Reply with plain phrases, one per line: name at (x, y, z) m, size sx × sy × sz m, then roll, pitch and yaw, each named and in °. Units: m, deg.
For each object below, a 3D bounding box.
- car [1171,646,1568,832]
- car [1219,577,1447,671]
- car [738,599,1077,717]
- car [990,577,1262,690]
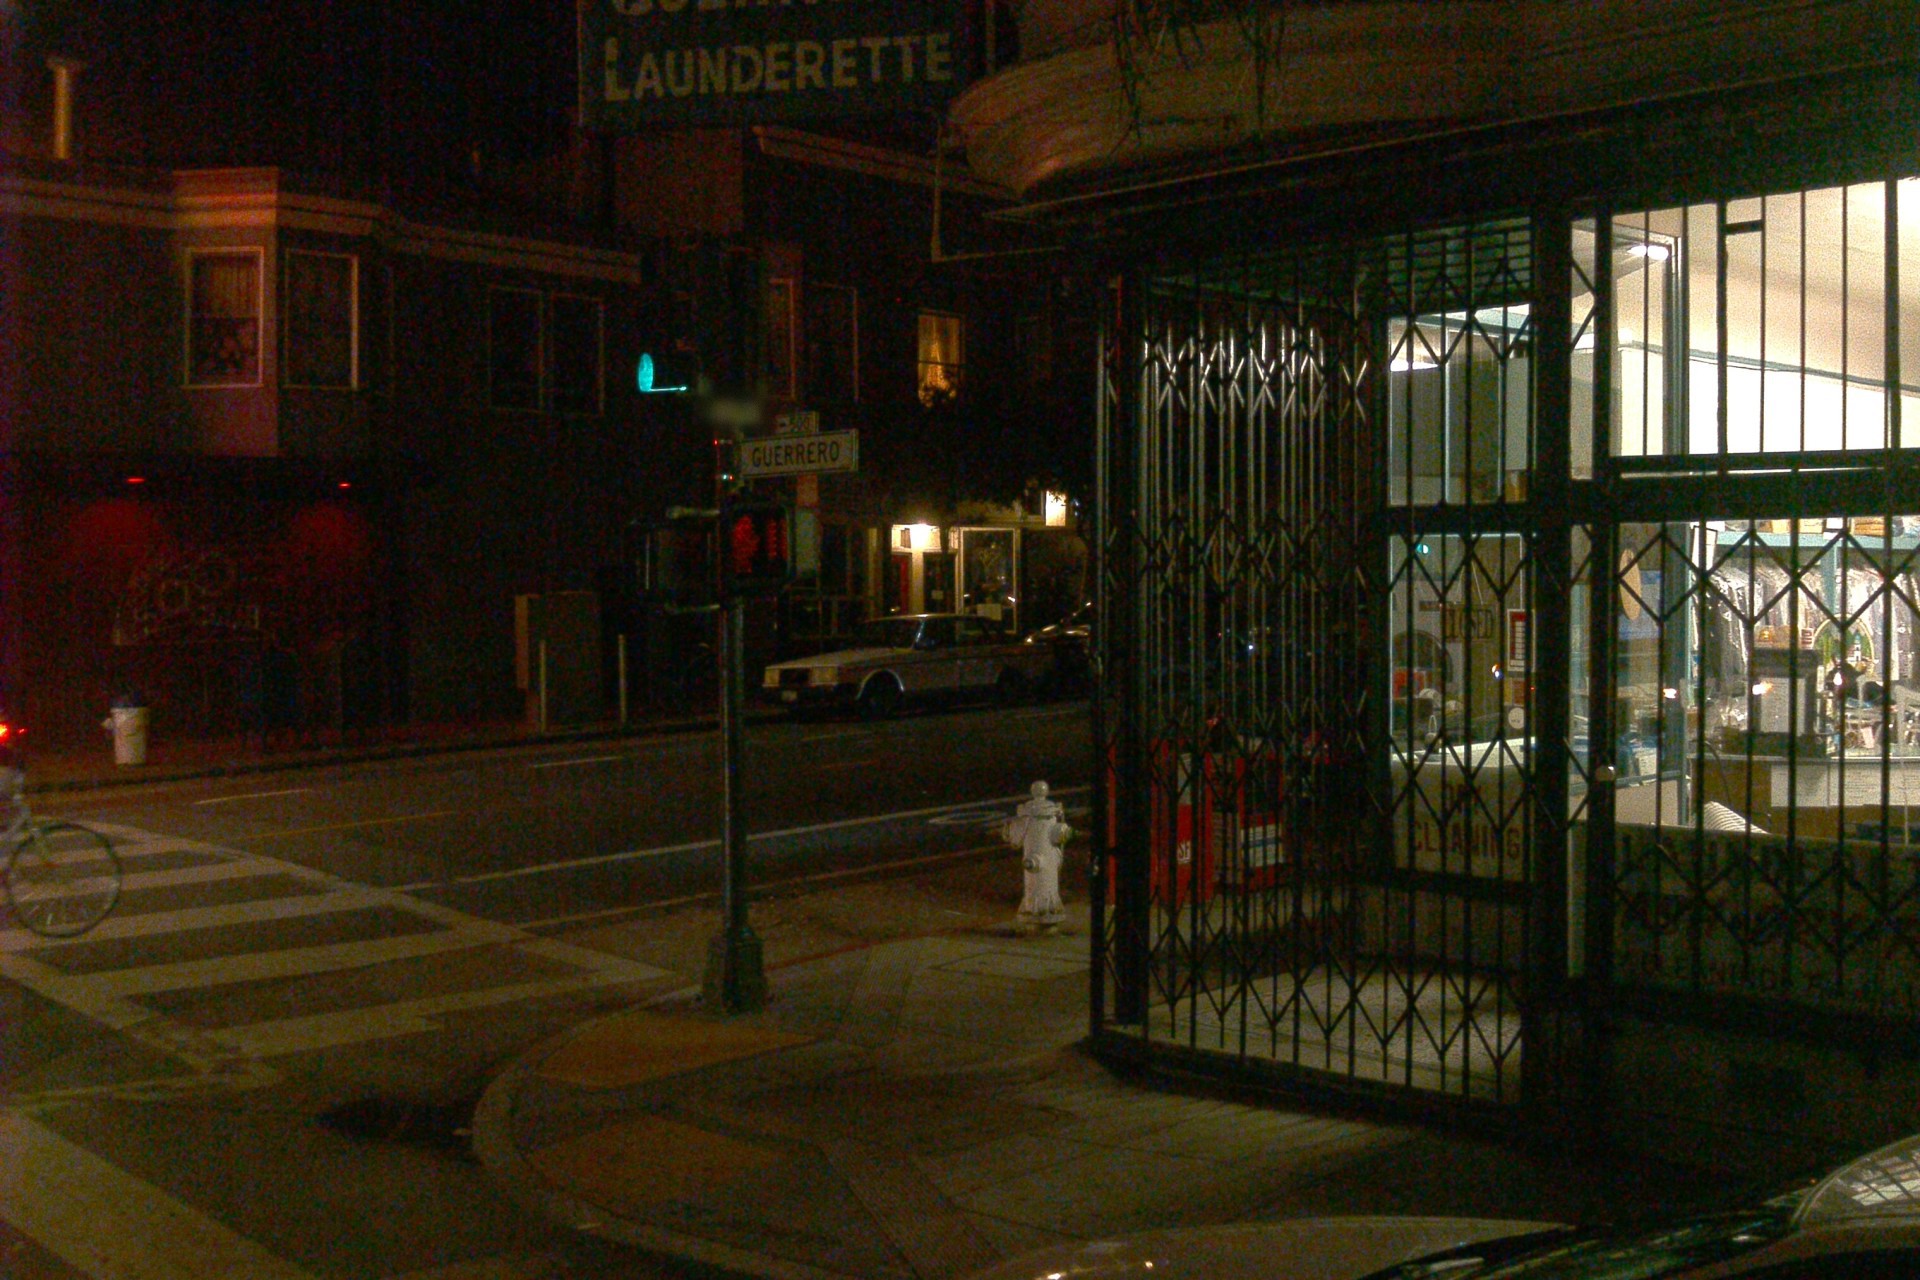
car at (3.605, 0.794, 18.001) m, size 3.504 × 1.420 × 1.655 m, roll 1°, pitch 0°, yaw -45°
car at (6.680, -0.262, 37.012) m, size 1.924 × 1.570 × 4.226 m, roll 1°, pitch 0°, yaw 45°
car at (-0.653, 0.257, 29.839) m, size 1.884 × 1.550 × 4.981 m, roll 1°, pitch 0°, yaw 43°
car at (2.702, -0.081, 33.202) m, size 1.991 × 1.690 × 4.349 m, roll 1°, pitch 0°, yaw 44°
